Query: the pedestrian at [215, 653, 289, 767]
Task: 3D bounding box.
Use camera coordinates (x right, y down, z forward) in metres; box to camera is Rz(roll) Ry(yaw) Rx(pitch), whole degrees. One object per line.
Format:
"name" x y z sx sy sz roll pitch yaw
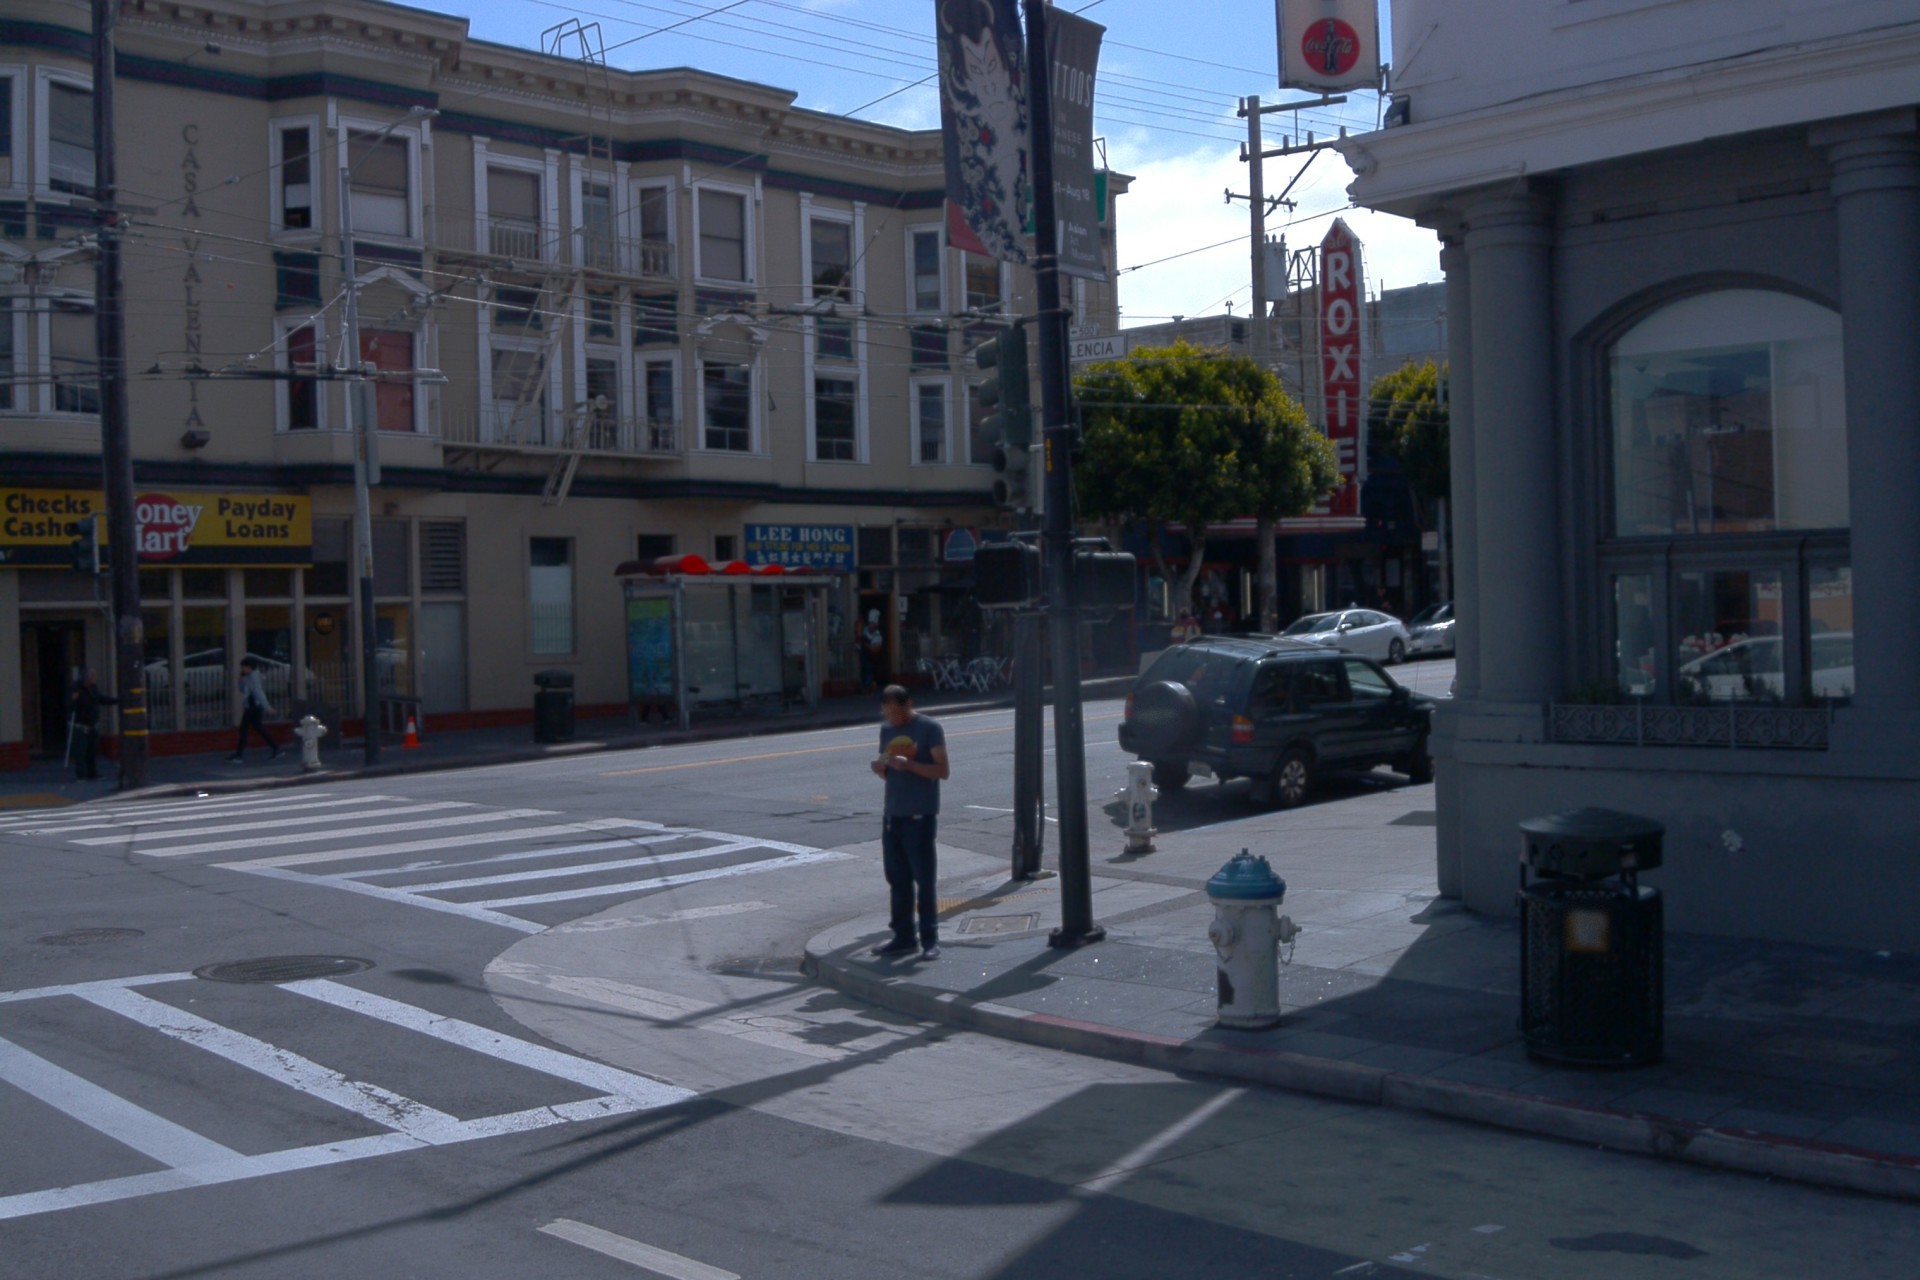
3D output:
"pedestrian" -11.065 1.076 32.121 0.962 1.720 0.919 0 0 -28

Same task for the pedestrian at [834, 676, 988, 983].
"pedestrian" -0.317 1.187 13.291 0.690 1.880 0.721 0 0 -43

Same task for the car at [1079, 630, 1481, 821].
"car" 3.649 0.842 22.856 2.130 1.870 4.629 0 1 44

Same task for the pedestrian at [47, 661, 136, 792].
"pedestrian" -12.391 1.208 29.325 0.995 1.790 1.336 0 0 -31
